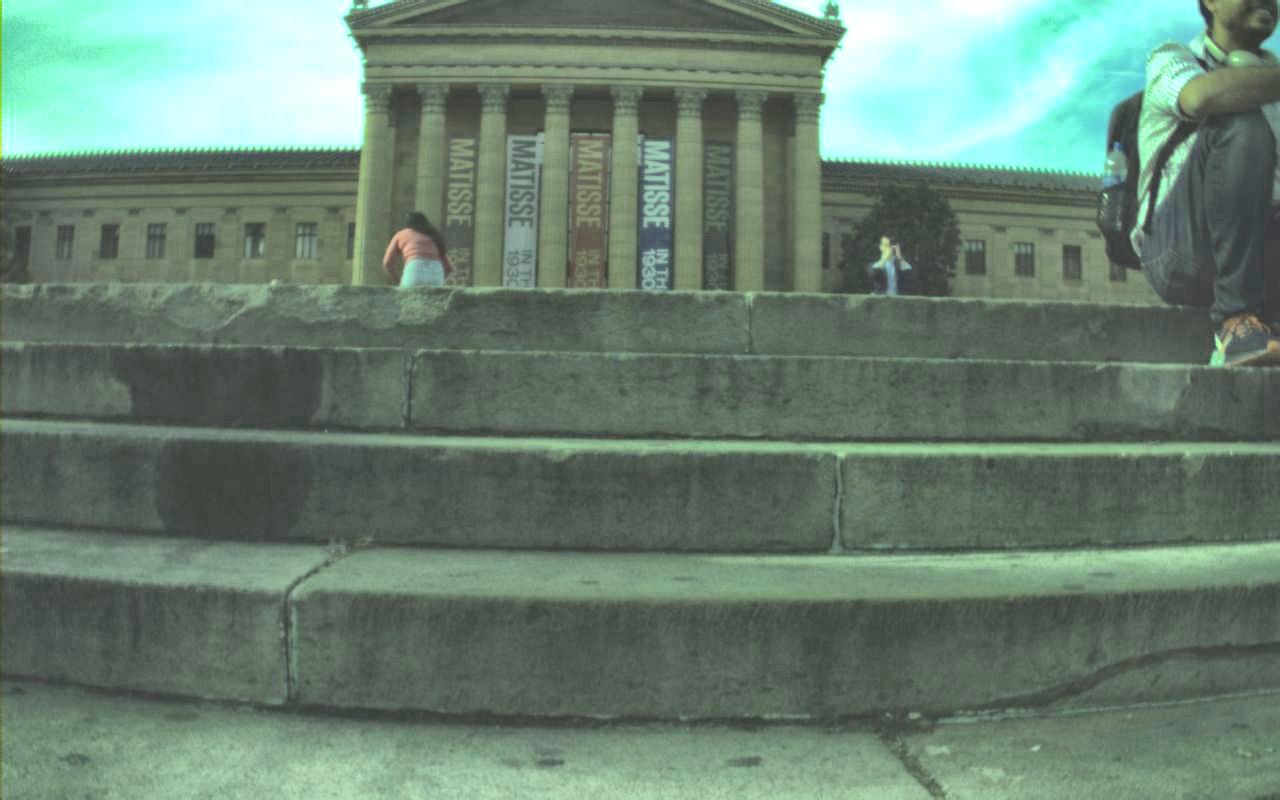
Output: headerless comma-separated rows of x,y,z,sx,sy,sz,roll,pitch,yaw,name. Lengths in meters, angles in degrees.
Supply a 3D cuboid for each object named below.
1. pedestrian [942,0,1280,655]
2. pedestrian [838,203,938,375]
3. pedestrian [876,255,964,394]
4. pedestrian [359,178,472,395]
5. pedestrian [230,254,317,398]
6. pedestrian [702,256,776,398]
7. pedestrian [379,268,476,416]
1.227,-0.368,2.474,0.832,1.617,0.781,0,0,-36,pedestrian
2.649,-1.150,13.258,0.775,1.763,0.784,1,0,42,pedestrian
3.370,-0.884,14.885,0.807,1.614,0.829,1,0,35,pedestrian
-1.855,-0.919,10.354,0.812,1.742,0.835,0,0,-2,pedestrian
-4.432,-0.856,14.653,0.813,1.681,0.813,0,0,-39,pedestrian
1.155,-0.841,14.834,0.816,1.624,0.832,0,0,1,pedestrian
-2.547,-0.673,14.899,0.851,1.697,0.830,0,0,-40,pedestrian
